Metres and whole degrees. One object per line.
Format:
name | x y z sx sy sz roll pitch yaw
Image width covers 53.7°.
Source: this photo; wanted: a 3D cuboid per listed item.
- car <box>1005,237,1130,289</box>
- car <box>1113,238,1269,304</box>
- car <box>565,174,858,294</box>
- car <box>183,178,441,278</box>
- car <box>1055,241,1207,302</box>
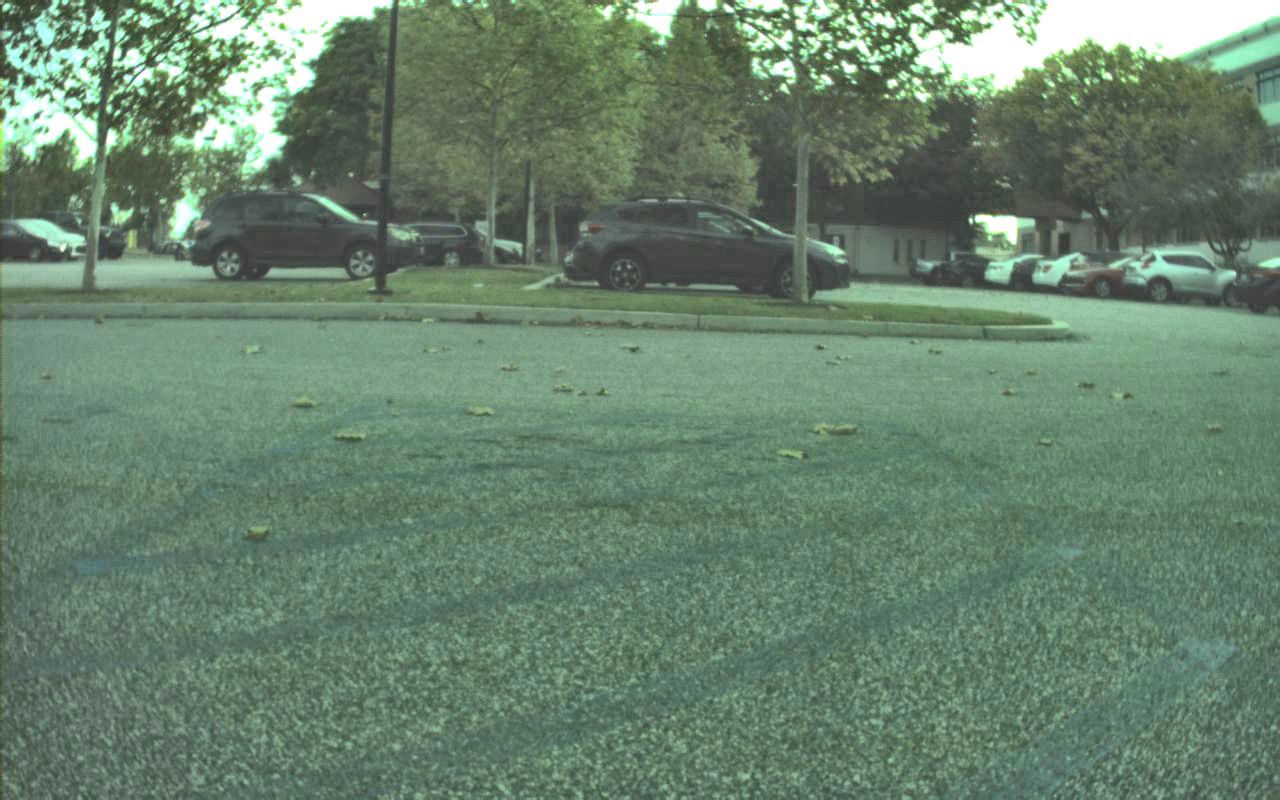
car | 15.727 -4.956 44.246 4.390 1.600 1.951 0 1 -5
car | 15.963 -3.622 33.633 4.451 1.642 1.943 1 1 2
car | 1.084 -2.631 20.283 4.528 1.682 1.952 0 1 -3
car | -6.230 -3.204 23.197 4.661 1.647 1.996 0 1 -1
car | 15.069 -3.843 36.314 4.518 1.631 1.974 1 1 3
